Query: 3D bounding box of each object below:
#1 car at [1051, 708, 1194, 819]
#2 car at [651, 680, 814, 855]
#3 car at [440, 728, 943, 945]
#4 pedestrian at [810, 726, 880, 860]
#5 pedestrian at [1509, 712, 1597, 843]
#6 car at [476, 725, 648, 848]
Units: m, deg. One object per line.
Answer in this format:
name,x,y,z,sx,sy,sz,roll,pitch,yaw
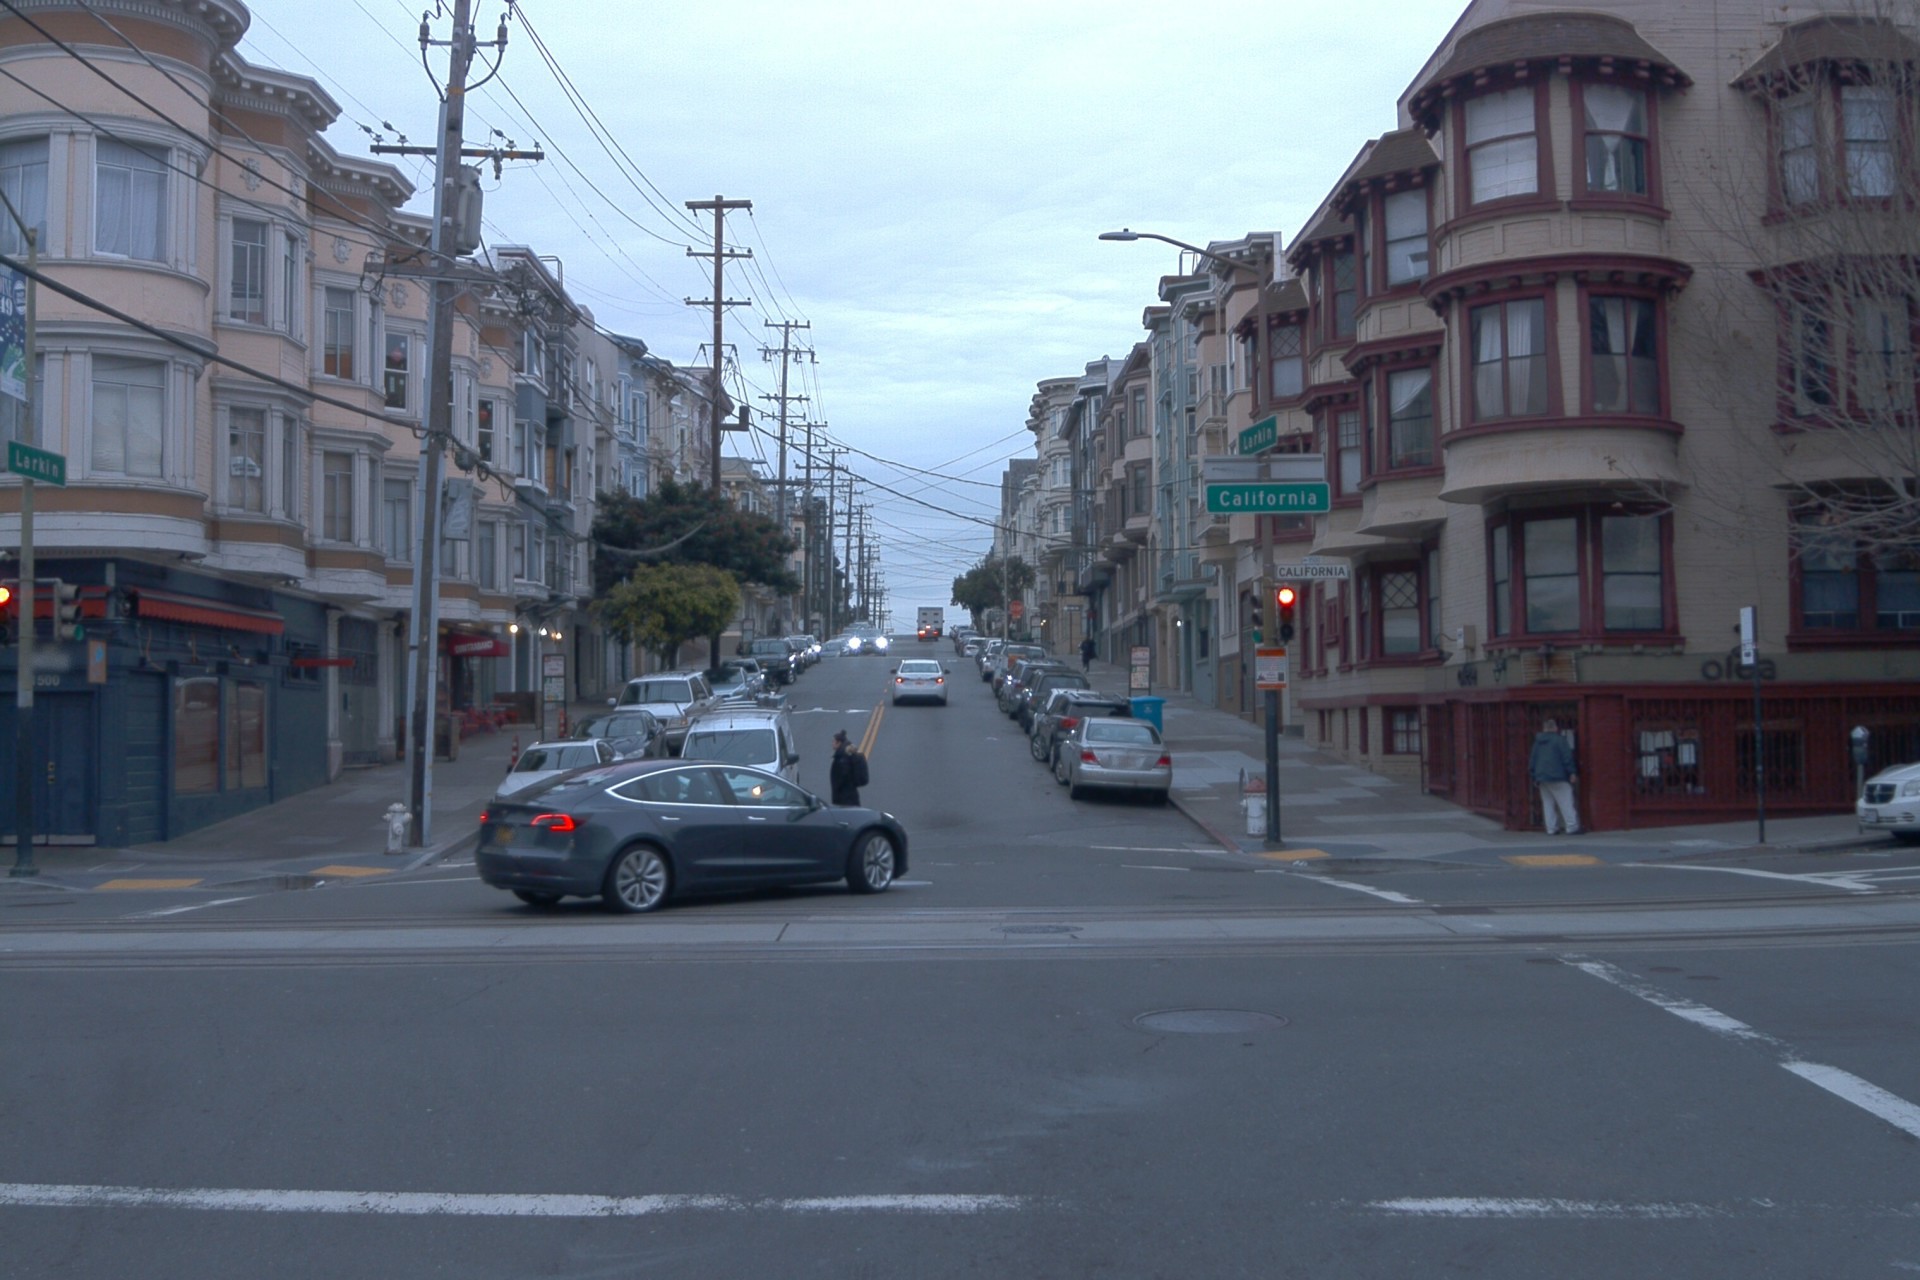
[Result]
car,2.936,2.232,38.183,2.108,1.700,4.470,0,1,-2
car,-3.621,1.985,33.587,2.196,2.490,4.690,0,1,-1
car,-2.580,1.847,20.620,4.696,1.630,2.075,-1,1,-45
pedestrian,-1.635,2.157,29.098,0.943,1.820,0.722,0,1,-5
pedestrian,8.727,2.007,30.267,0.902,1.830,0.919,-1,1,-44
car,-6.813,2.472,35.707,2.150,1.707,4.680,0,1,-1
